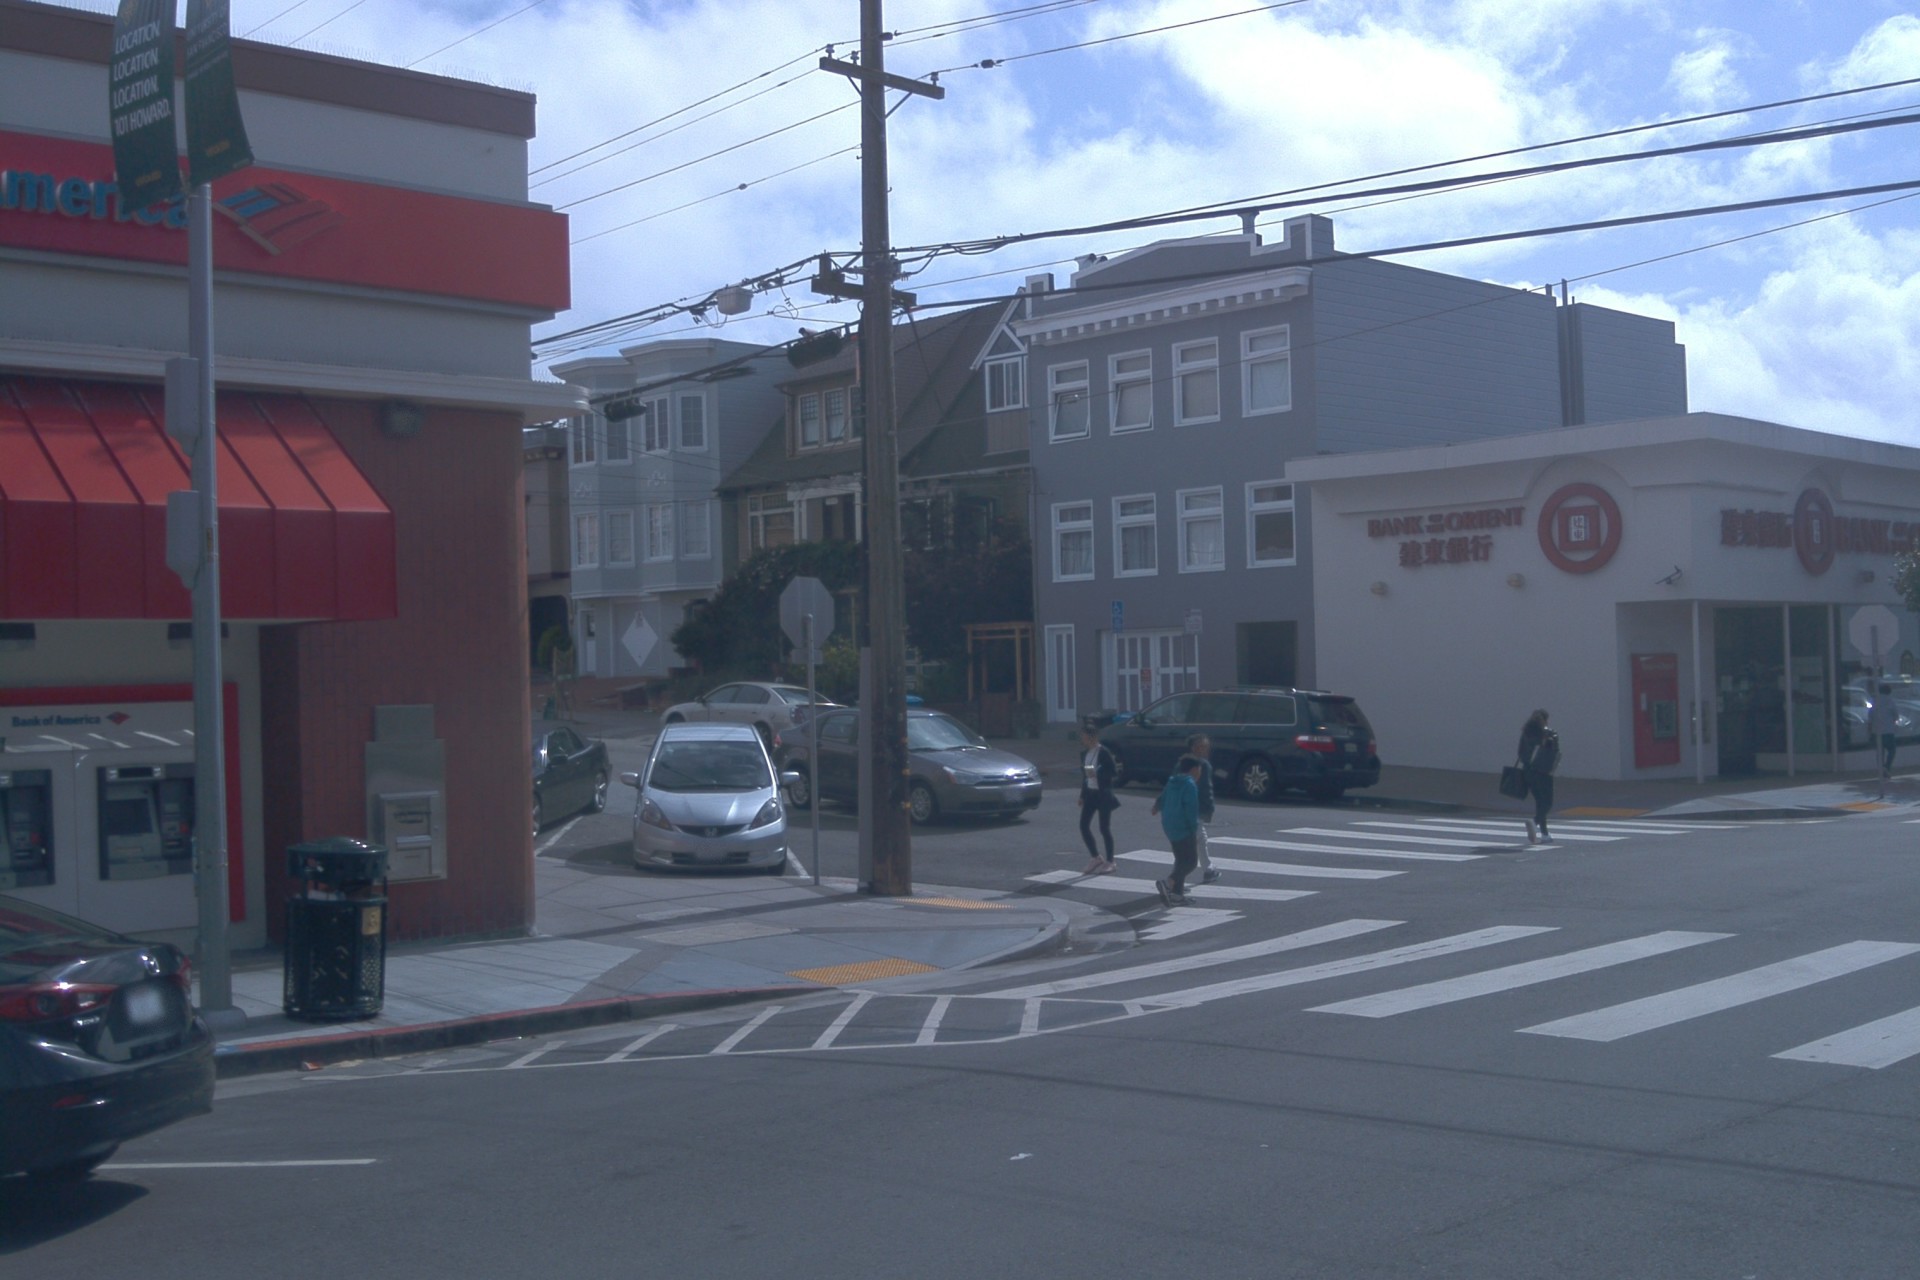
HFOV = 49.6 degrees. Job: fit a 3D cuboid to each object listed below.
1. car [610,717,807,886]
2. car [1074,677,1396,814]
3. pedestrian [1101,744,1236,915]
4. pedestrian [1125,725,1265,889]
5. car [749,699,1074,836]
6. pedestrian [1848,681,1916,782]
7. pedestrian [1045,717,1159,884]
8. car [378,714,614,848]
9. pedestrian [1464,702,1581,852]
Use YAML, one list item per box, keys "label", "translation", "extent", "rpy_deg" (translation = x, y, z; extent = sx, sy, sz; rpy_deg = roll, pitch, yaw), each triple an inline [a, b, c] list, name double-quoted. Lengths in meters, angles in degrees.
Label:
- label: "car"
  translation: [-2.933, 1.807, 24.404]
  extent: [2.094, 1.641, 4.189]
  rpy_deg: [0, 0, -7]
- label: "car"
  translation: [4.288, 1.595, 32.985]
  extent: [2.133, 1.937, 4.769]
  rpy_deg: [0, 0, -44]
- label: "pedestrian"
  translation: [2.008, 1.799, 19.998]
  extent: [1.131, 1.532, 0.719]
  rpy_deg: [0, 0, -41]
- label: "pedestrian"
  translation: [2.408, 1.681, 21.268]
  extent: [1.302, 1.566, 0.765]
  rpy_deg: [0, 0, -42]
- label: "car"
  translation: [-0.738, 1.667, 28.423]
  extent: [2.068, 1.587, 4.401]
  rpy_deg: [0, 0, -42]
- label: "pedestrian"
  translation: [15.505, 1.522, 34.979]
  extent: [0.780, 1.643, 0.943]
  rpy_deg: [0, 0, 44]
- label: "pedestrian"
  translation: [1.546, 1.722, 22.646]
  extent: [0.763, 1.722, 1.014]
  rpy_deg: [0, 0, 45]
- label: "car"
  translation: [-5.986, 1.785, 27.349]
  extent: [1.823, 1.481, 4.202]
  rpy_deg: [0, 0, 5]
- label: "pedestrian"
  translation: [6.530, 1.569, 24.145]
  extent: [0.985, 1.653, 0.948]
  rpy_deg: [0, 0, 43]
